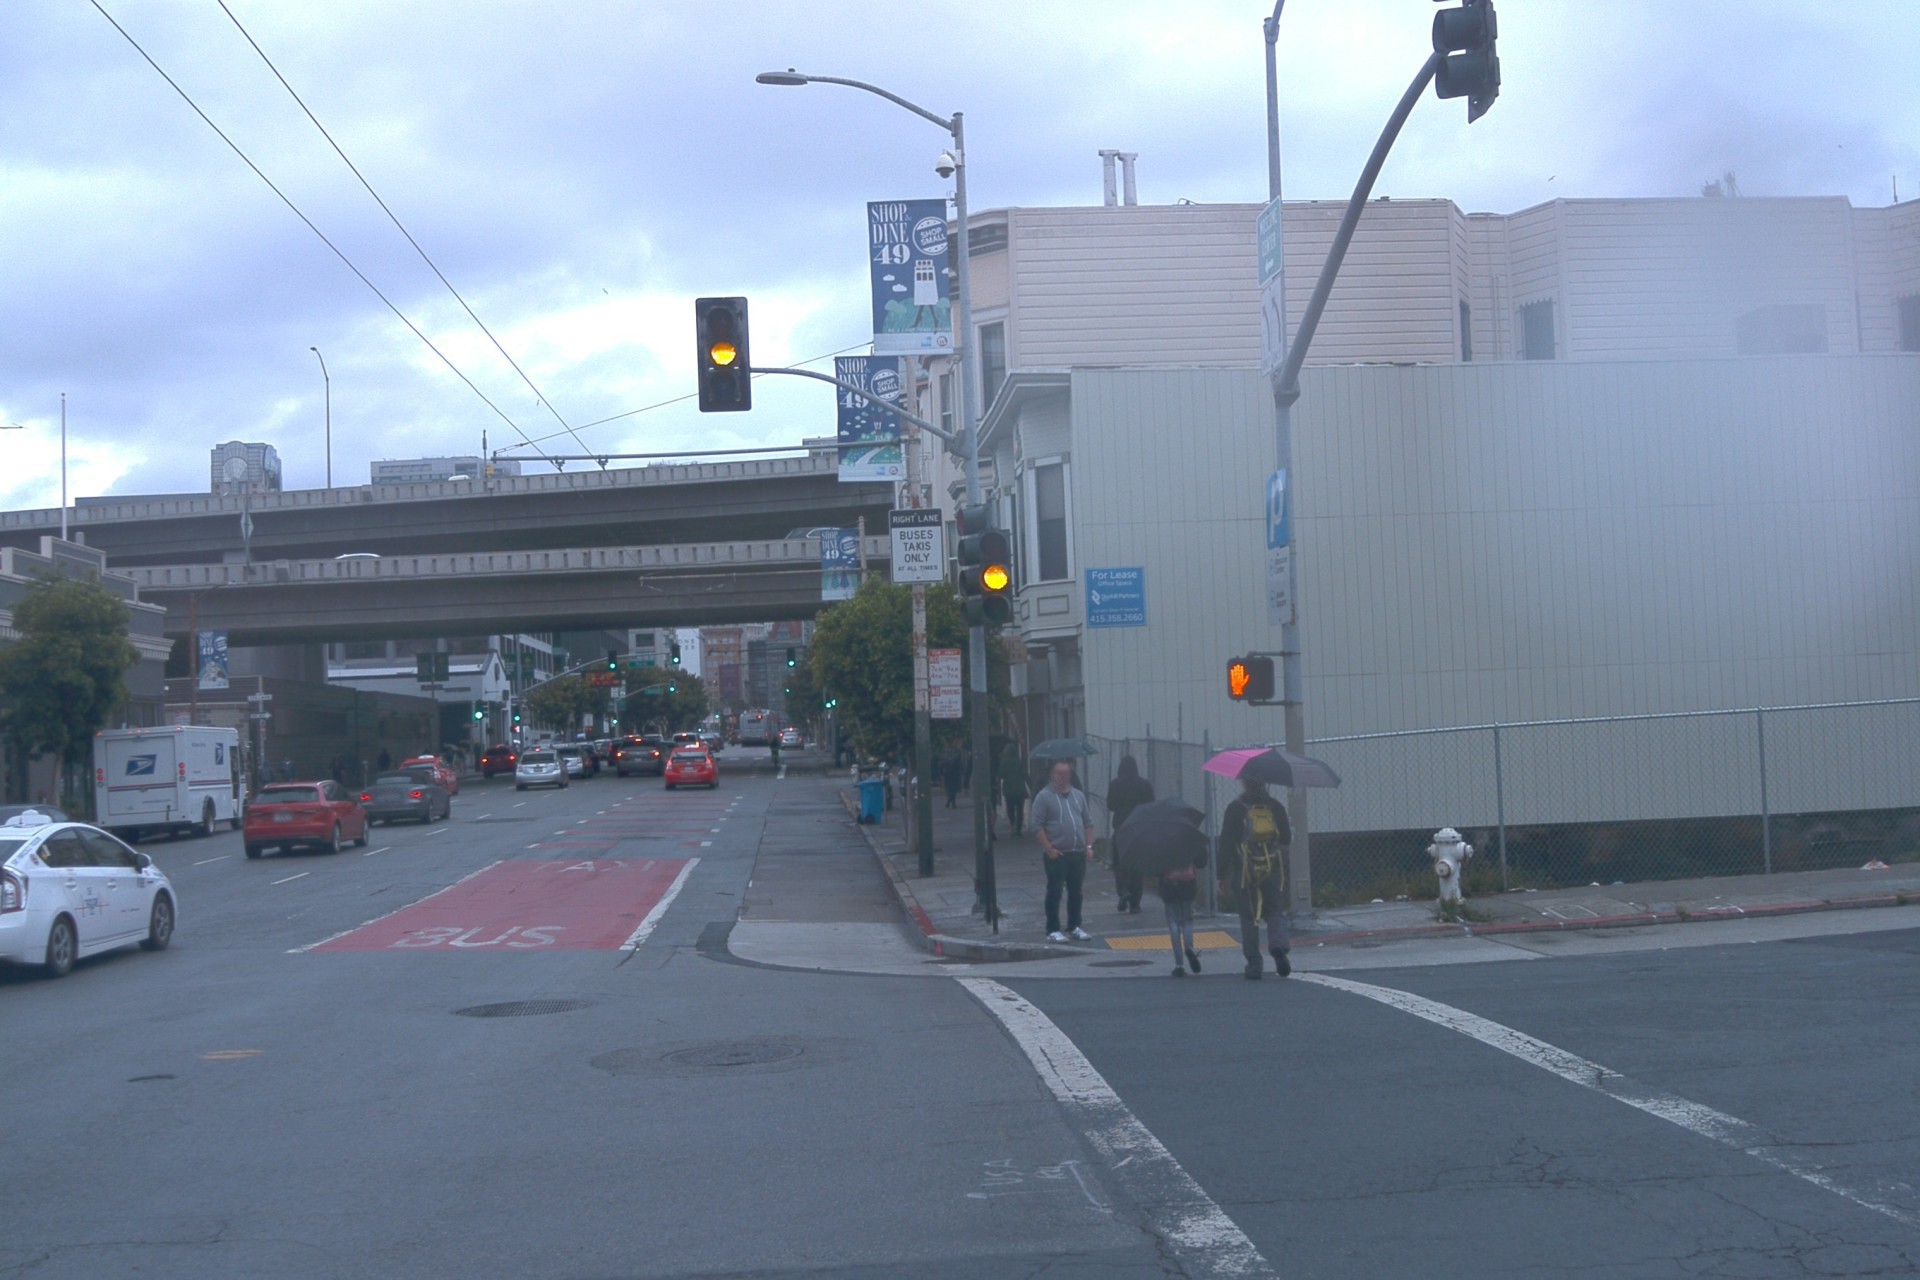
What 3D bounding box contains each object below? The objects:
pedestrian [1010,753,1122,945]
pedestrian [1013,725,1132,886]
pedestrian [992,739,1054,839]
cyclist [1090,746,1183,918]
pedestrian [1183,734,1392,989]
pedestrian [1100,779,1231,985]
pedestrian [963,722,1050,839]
[{"bbox_3d":[1.061,2.069,20.776,0.843,1.837,0.755,0,-1,-30],"label":"pedestrian"},{"bbox_3d":[1.445,2.121,26.979,1.351,1.976,1.598,0,-1,-4],"label":"pedestrian"},{"bbox_3d":[1.105,2.614,36.506,0.989,1.692,1.085,0,-1,-3],"label":"pedestrian"},{"bbox_3d":[1.942,2.098,22.946,0.779,1.800,1.139,0,-1,-8],"label":"cyclist"},{"bbox_3d":[2.667,1.781,17.098,1.367,1.952,1.400,0,-1,-7],"label":"pedestrian"},{"bbox_3d":[1.746,2.050,17.790,1.006,1.652,1.058,0,-1,-1],"label":"pedestrian"},{"bbox_3d":[0.811,2.469,36.719,1.409,1.988,1.525,0,-1,-4],"label":"pedestrian"}]
